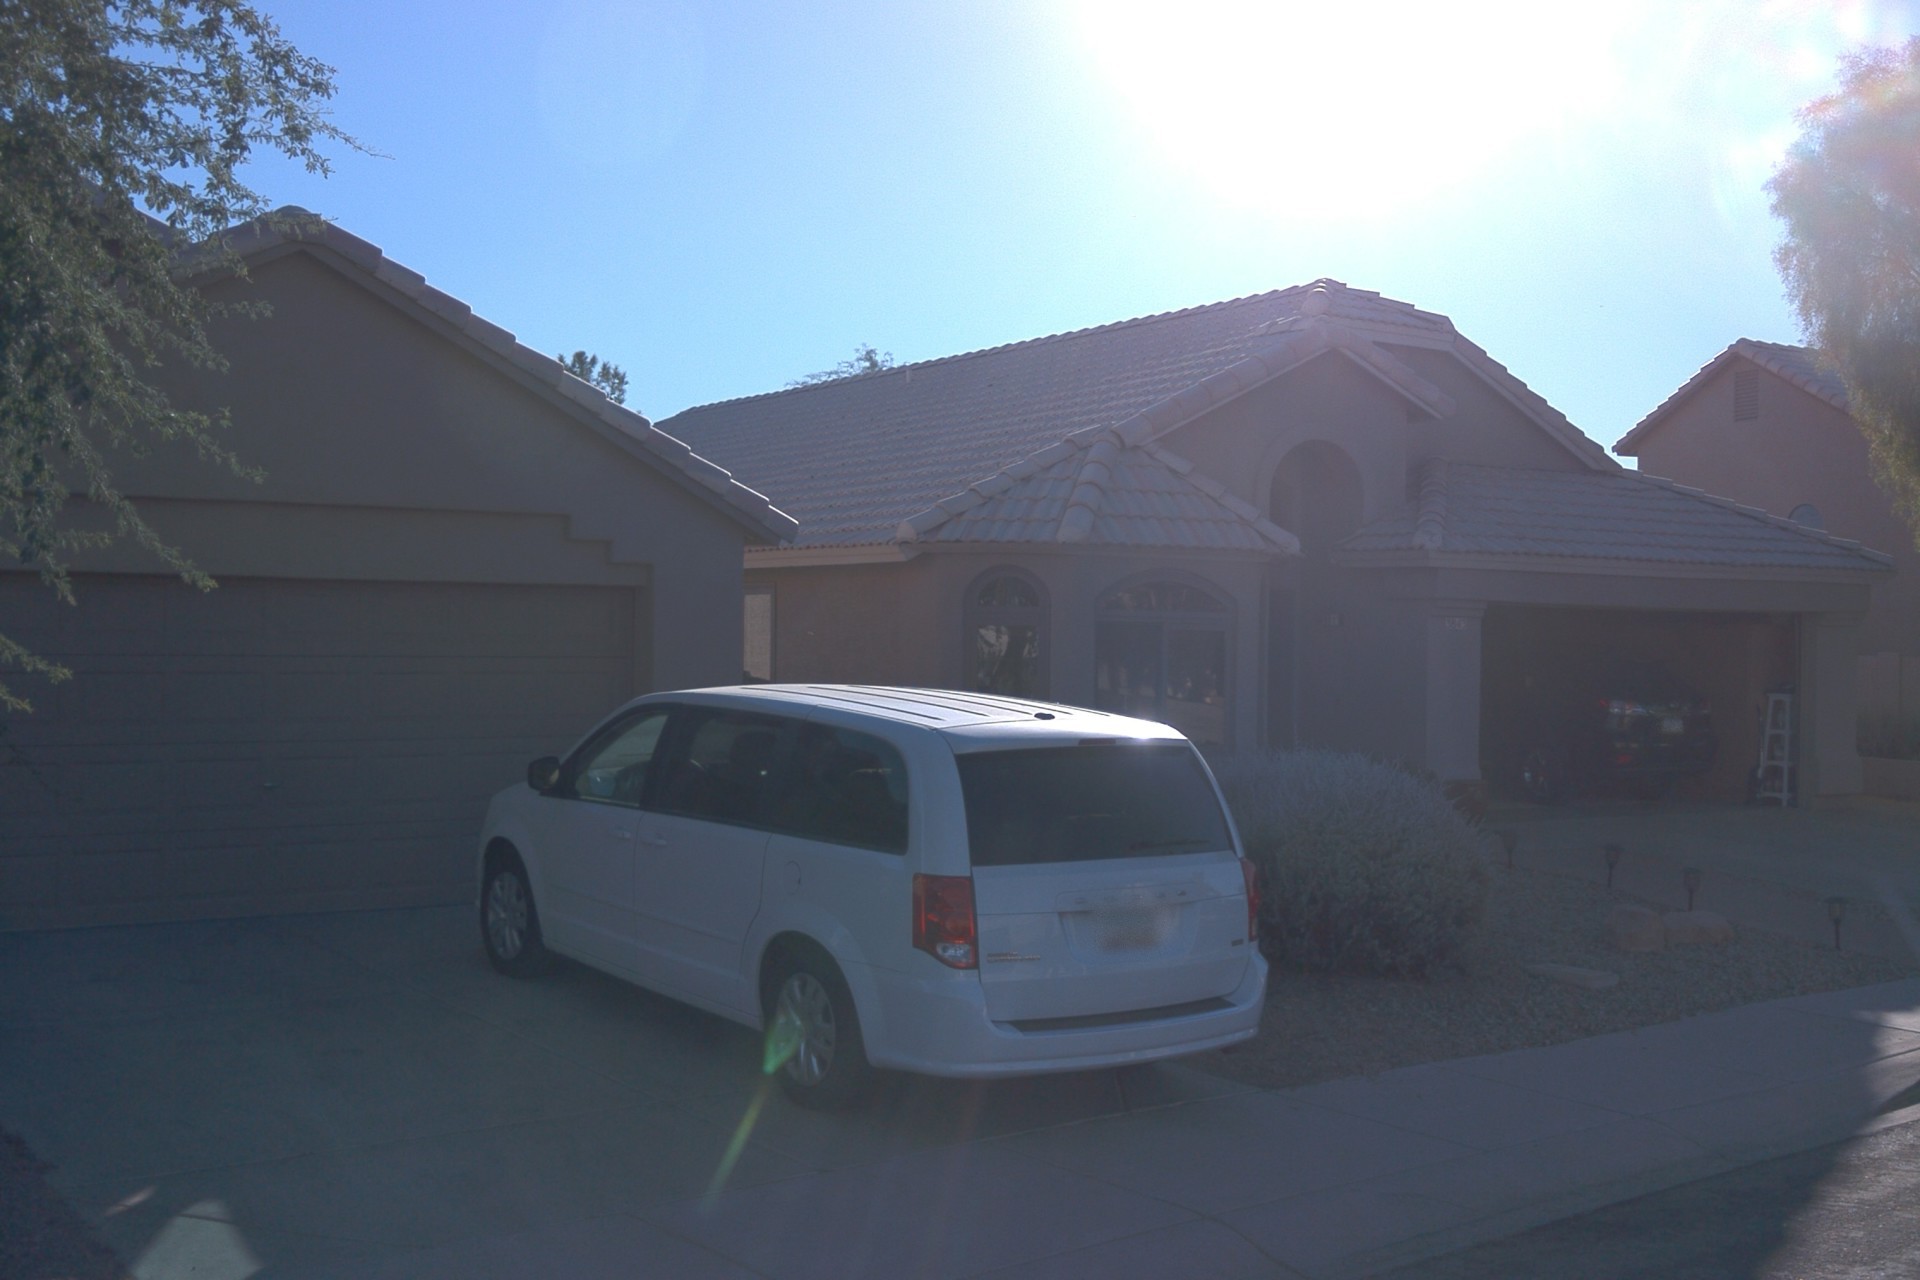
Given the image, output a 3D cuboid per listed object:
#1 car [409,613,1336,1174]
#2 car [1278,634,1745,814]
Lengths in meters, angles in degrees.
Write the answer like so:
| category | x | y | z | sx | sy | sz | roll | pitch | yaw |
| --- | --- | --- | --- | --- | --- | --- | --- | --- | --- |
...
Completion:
| category | x | y | z | sx | sy | sz | roll | pitch | yaw |
| --- | --- | --- | --- | --- | --- | --- | --- | --- | --- |
| car | -0.767 | 0.967 | 10.573 | 2.225 | 2.110 | 5.187 | 0 | 0 | -36 |
| car | 6.089 | 0.855 | 23.498 | 2.298 | 1.810 | 4.795 | 0 | 0 | -34 |
